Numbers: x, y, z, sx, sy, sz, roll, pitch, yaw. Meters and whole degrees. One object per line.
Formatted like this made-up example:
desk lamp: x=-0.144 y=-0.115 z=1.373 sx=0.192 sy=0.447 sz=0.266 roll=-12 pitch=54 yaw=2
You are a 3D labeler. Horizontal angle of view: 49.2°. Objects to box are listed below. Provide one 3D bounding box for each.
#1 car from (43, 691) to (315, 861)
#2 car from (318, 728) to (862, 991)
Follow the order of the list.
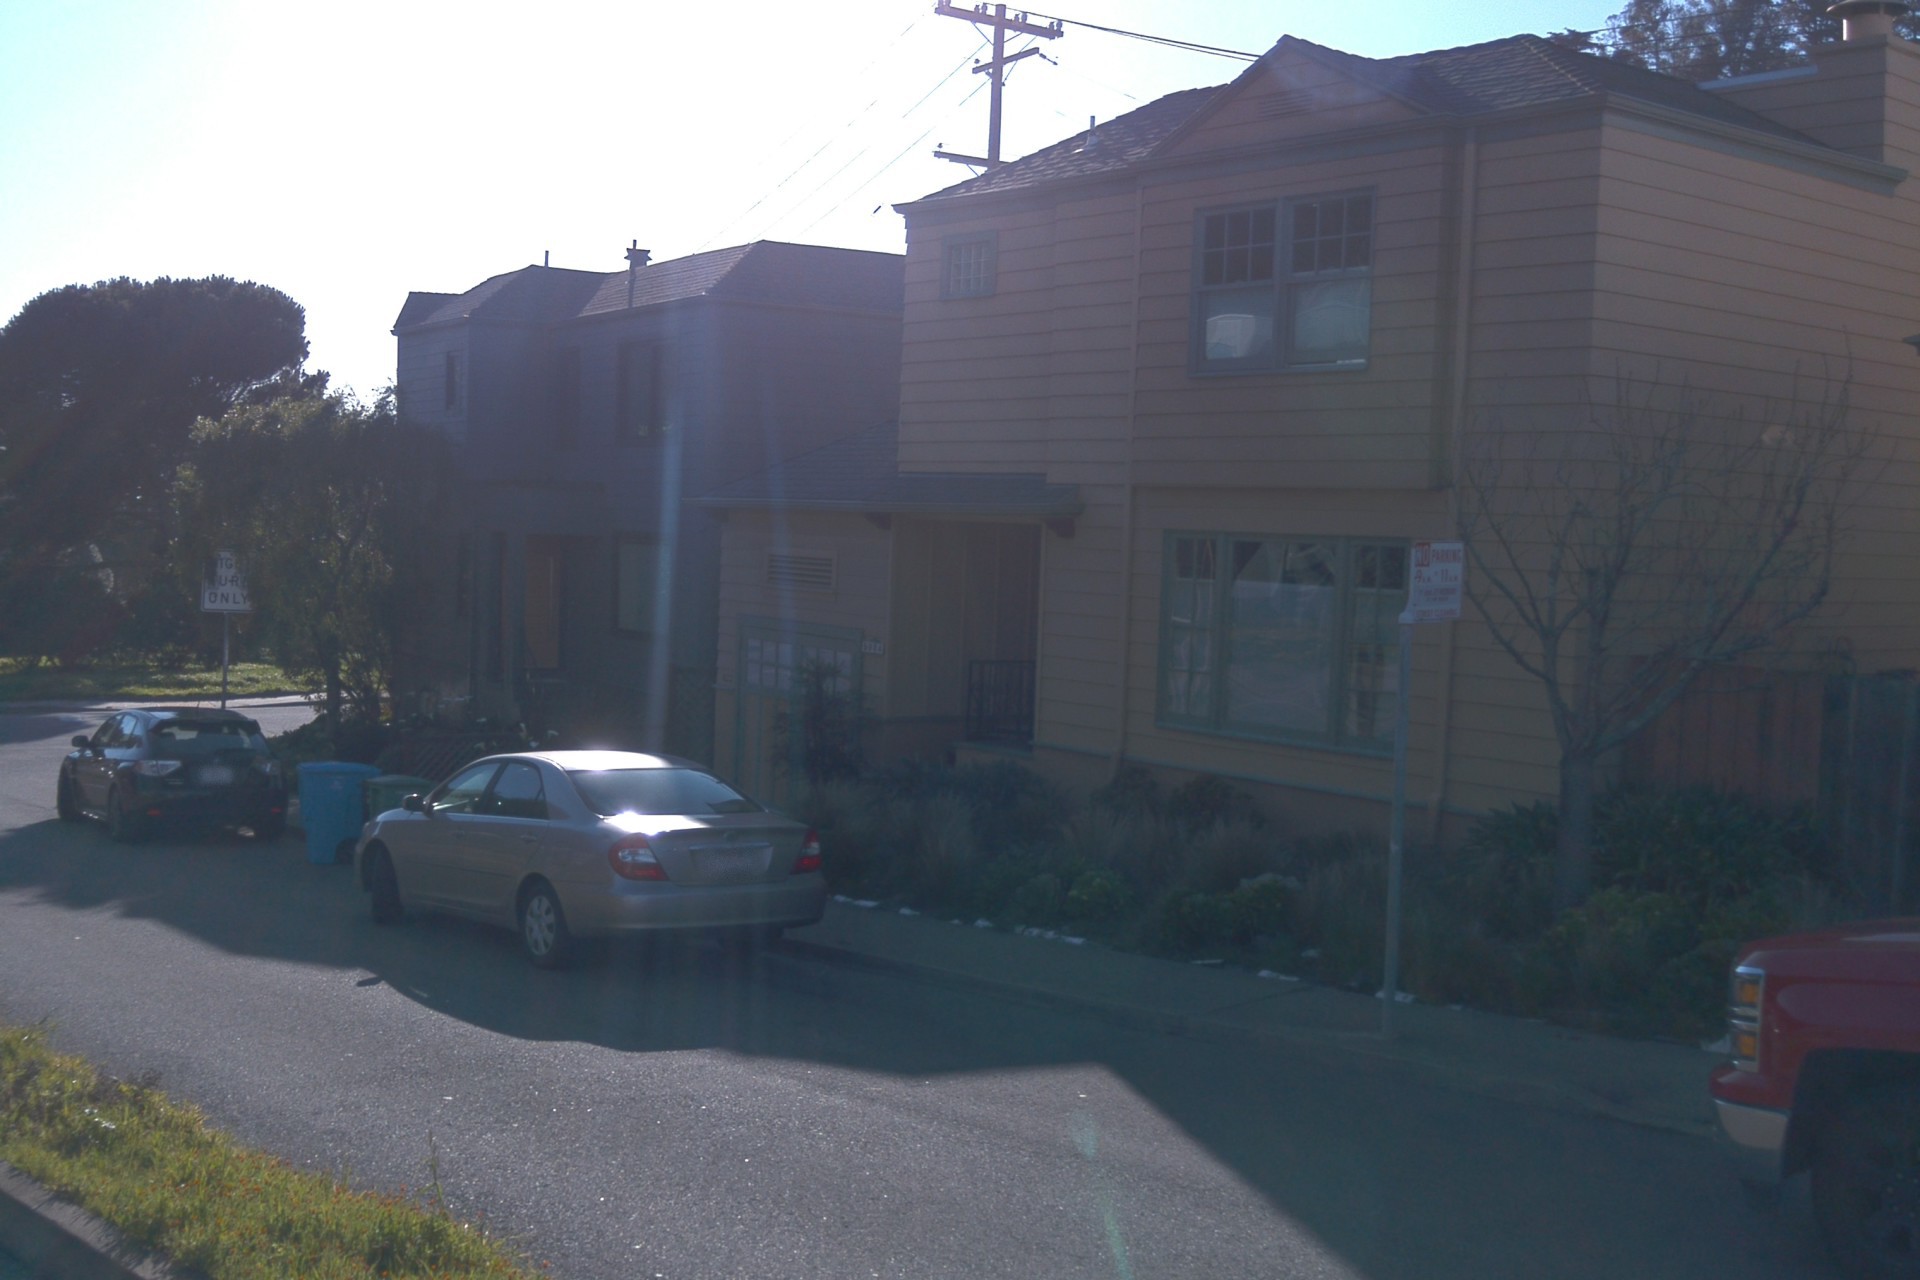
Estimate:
car: x=-9.085 y=1.473 z=24.169 sx=1.997 sy=1.660 sz=4.356 roll=1 pitch=0 yaw=-33
car: x=-3.002 y=1.525 z=16.078 sx=2.053 sy=1.500 sz=4.824 roll=1 pitch=0 yaw=-38
